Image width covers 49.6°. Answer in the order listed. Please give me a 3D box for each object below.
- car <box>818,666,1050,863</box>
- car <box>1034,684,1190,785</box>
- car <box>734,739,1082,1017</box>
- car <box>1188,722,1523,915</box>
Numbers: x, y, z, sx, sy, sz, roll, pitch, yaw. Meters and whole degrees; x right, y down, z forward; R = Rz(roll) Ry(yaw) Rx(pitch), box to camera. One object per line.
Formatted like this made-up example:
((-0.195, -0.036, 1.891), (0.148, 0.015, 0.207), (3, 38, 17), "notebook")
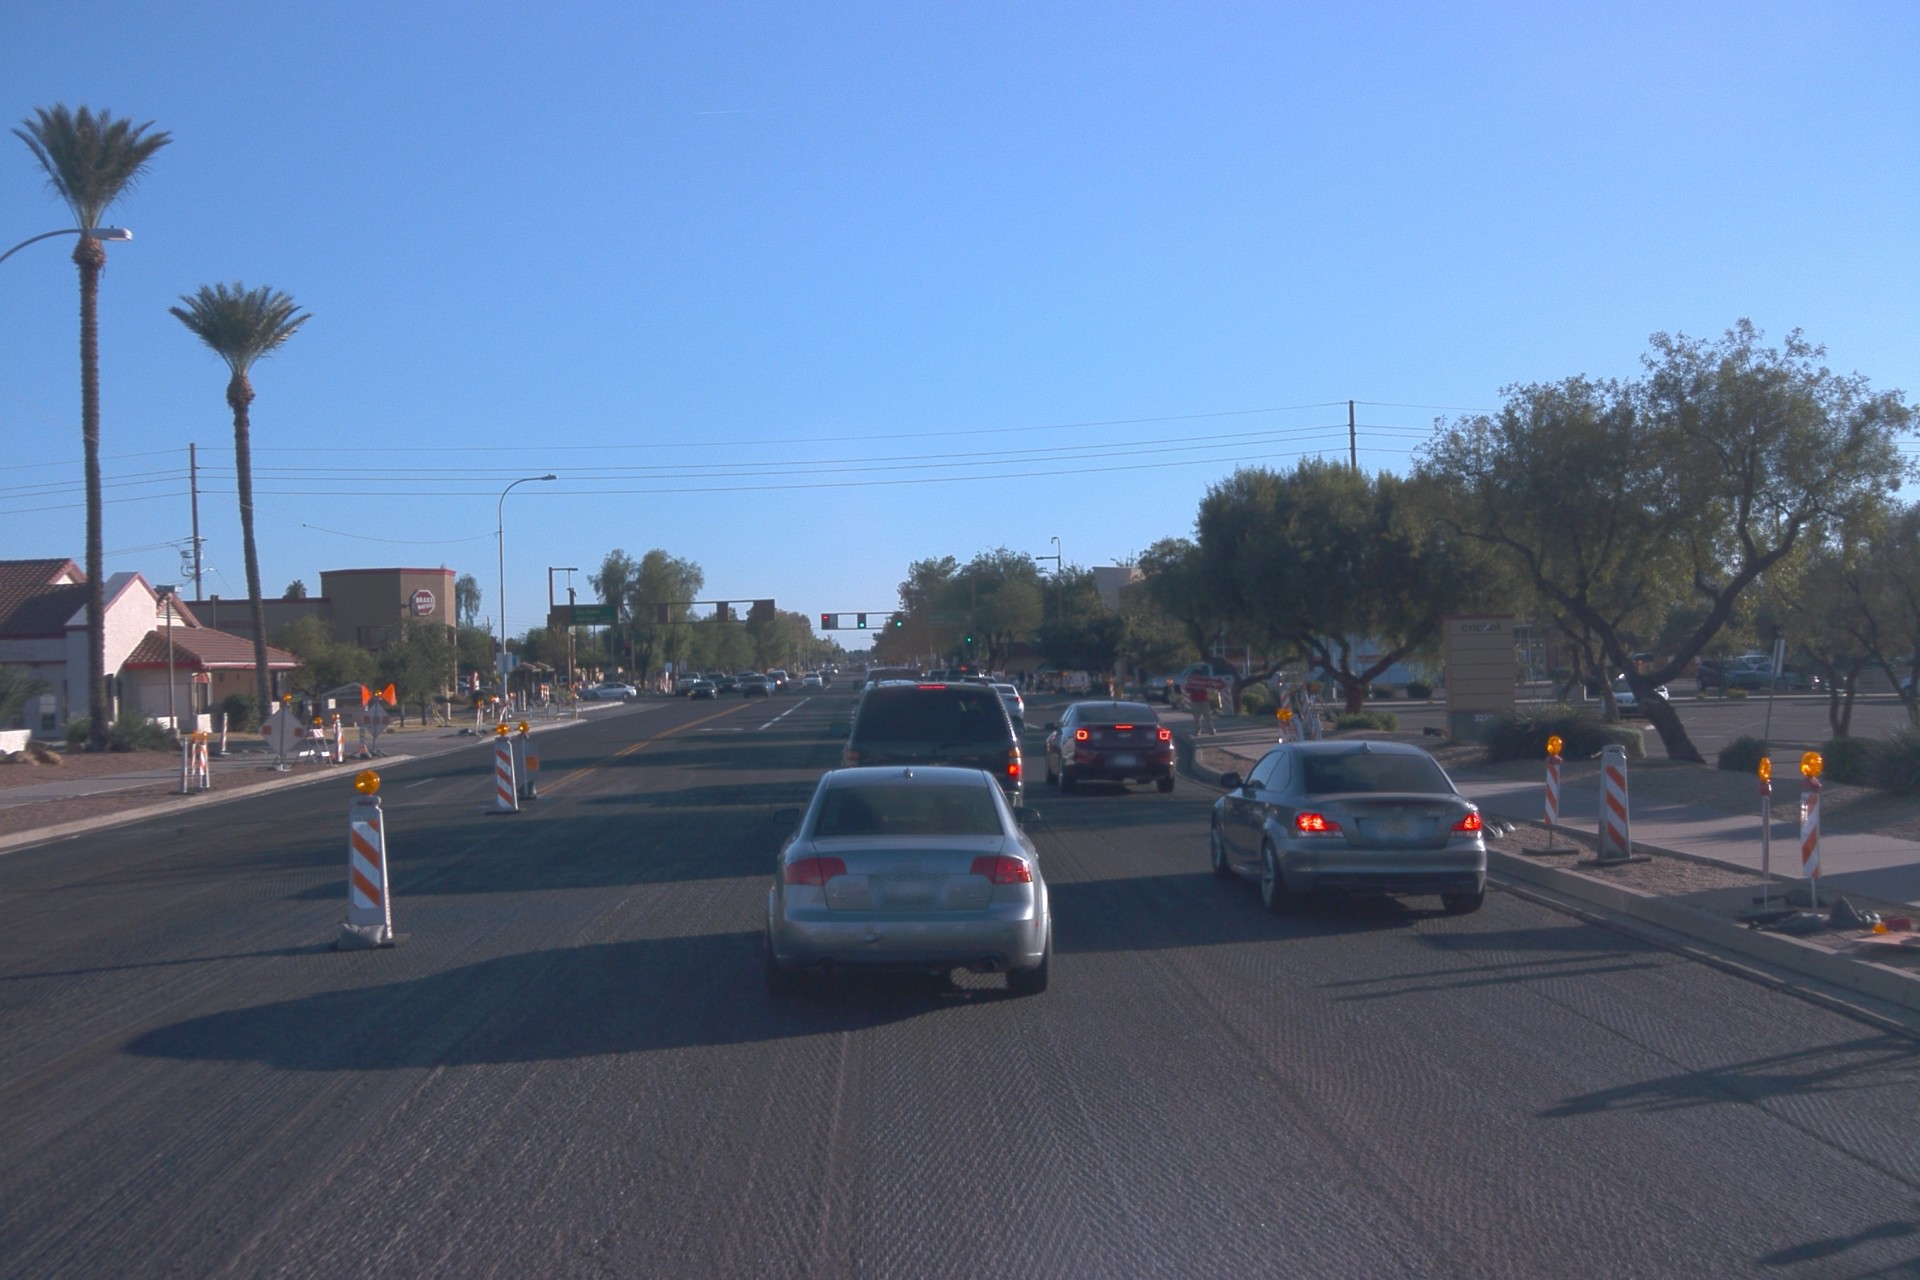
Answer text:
((-0.355, 1.332, 24.078), (2.405, 2.040, 5.063), (0, -1, -2), "car")
((2.457, 1.521, 34.804), (2.110, 1.540, 4.834), (0, -1, -2), "car")
((-0.344, 1.495, 14.338), (2.033, 1.480, 4.403), (0, -1, -1), "car")
((3.344, 1.487, 18.476), (1.991, 1.410, 4.329), (0, -1, -2), "car")
